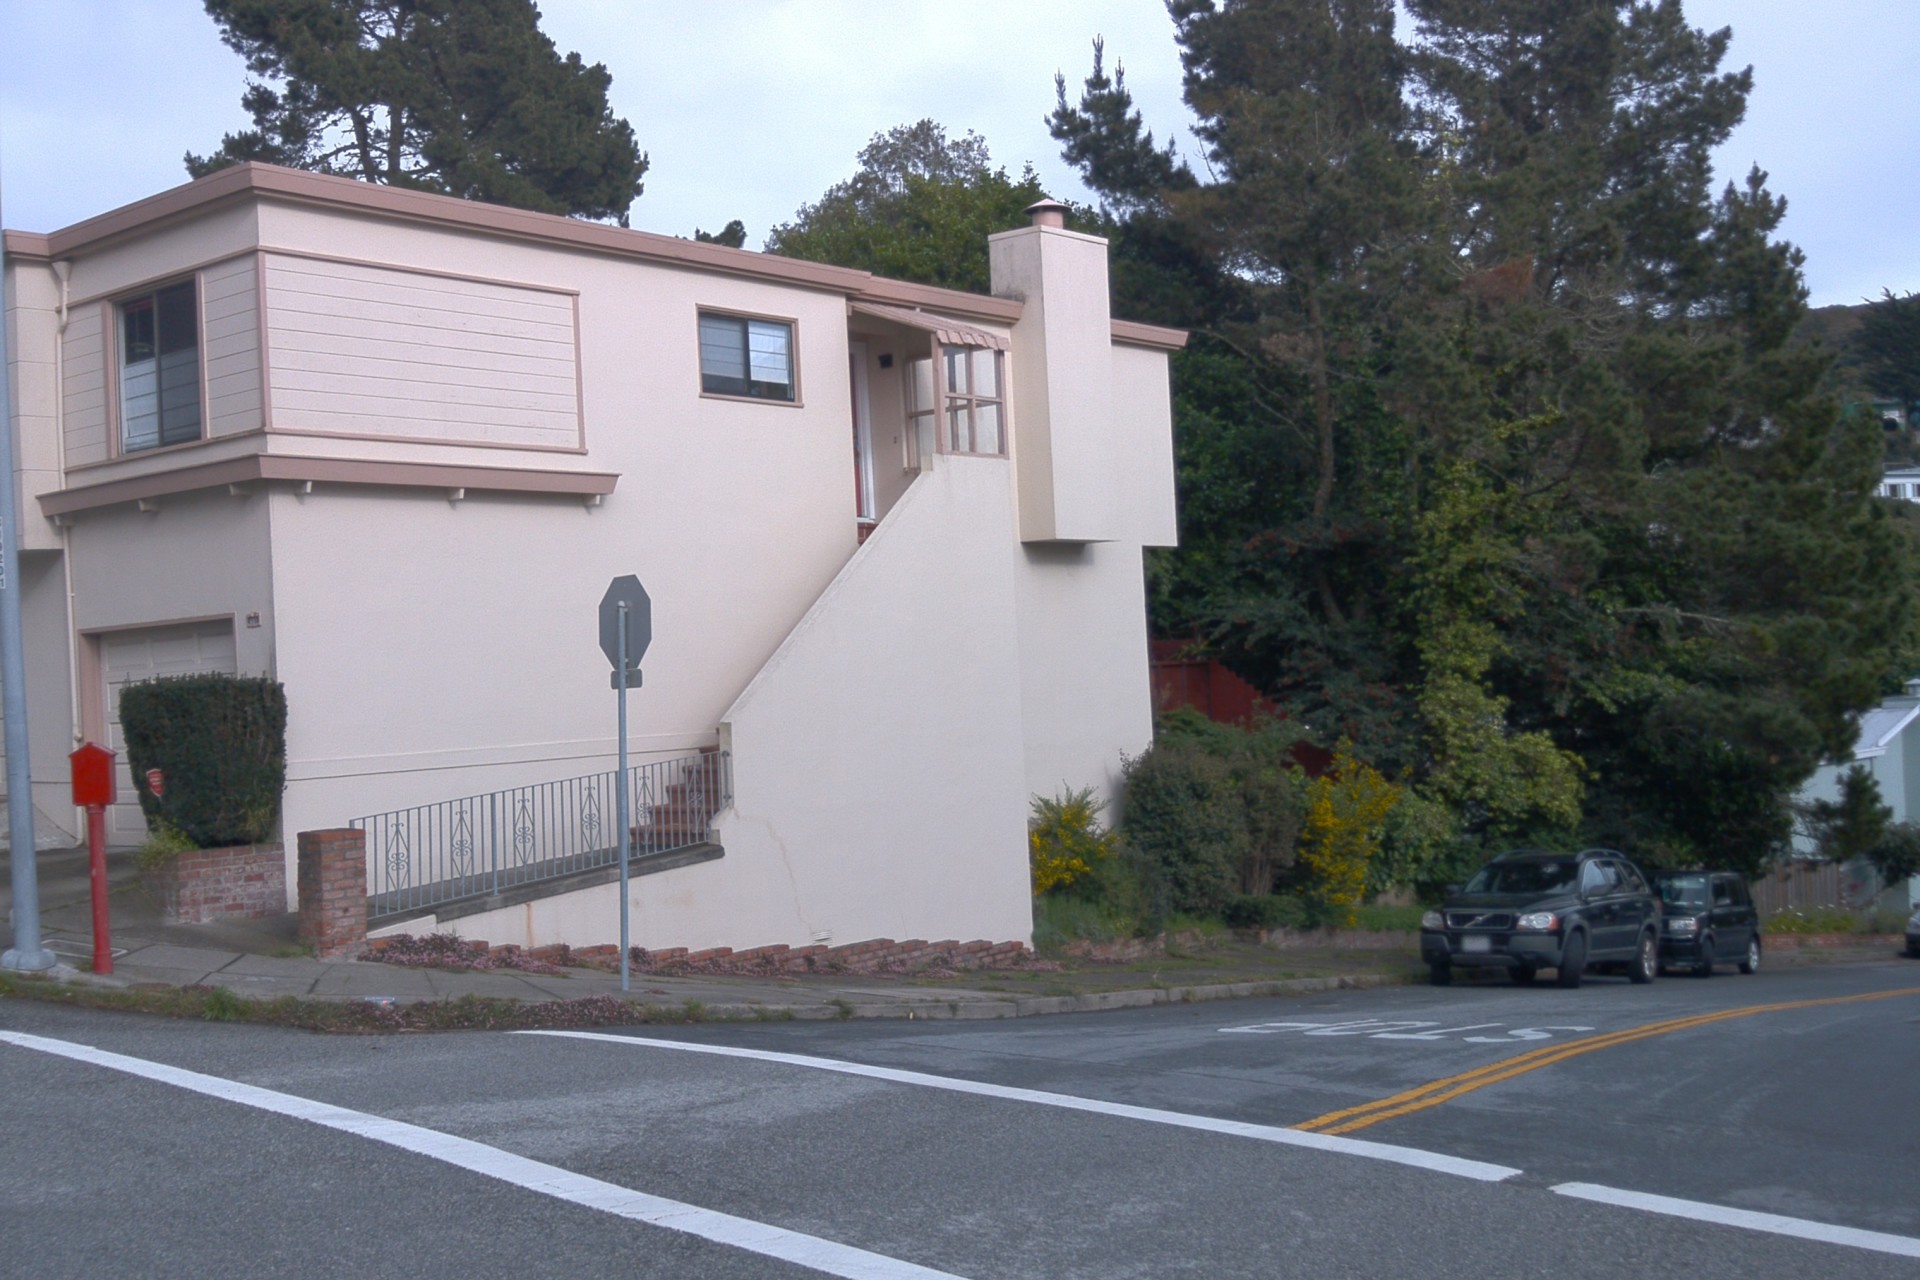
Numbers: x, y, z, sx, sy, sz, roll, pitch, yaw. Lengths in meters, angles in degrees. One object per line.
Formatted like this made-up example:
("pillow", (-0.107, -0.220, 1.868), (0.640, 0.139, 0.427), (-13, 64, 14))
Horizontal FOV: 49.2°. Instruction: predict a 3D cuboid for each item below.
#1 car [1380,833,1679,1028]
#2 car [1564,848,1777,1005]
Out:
("car", (7.513, 3.657, 27.286), (2.167, 1.830, 5.004), (0, 0, 35))
("car", (11.002, 4.327, 32.265), (1.967, 1.820, 4.165), (1, 0, 36))
